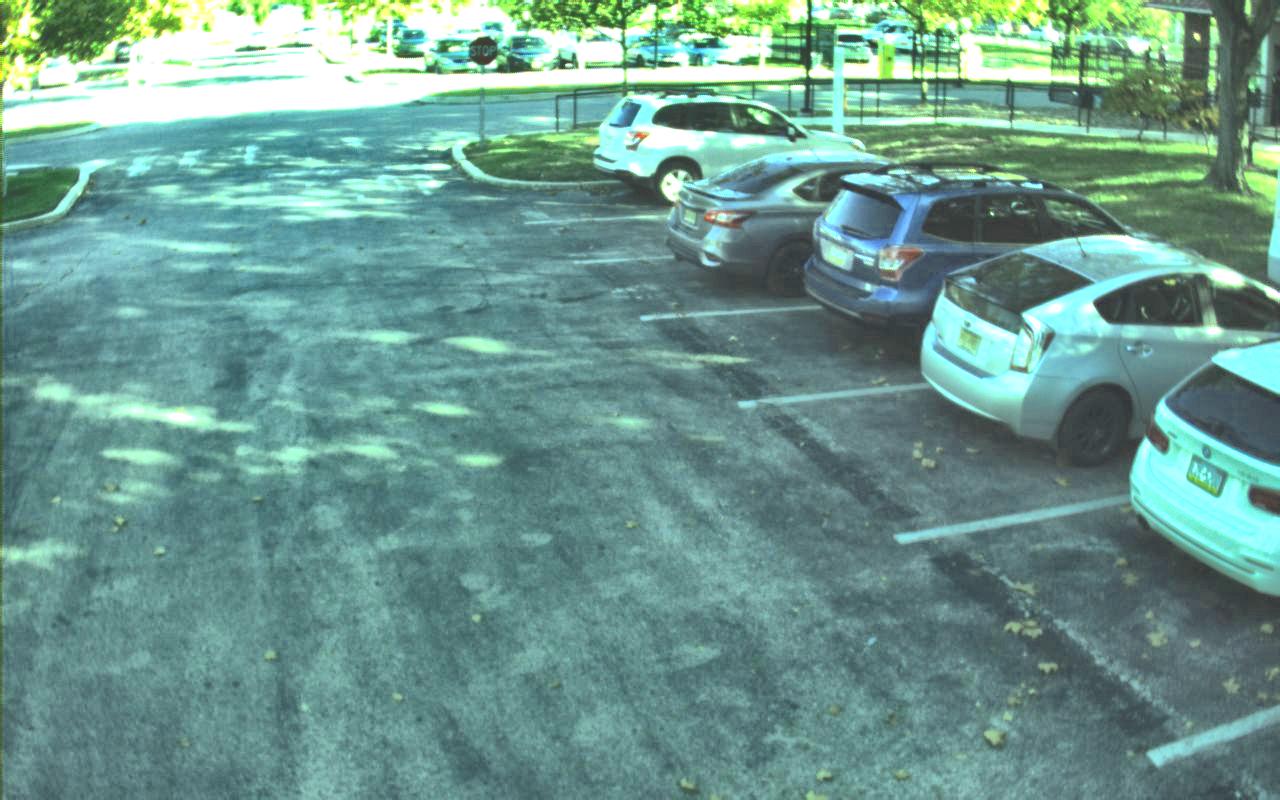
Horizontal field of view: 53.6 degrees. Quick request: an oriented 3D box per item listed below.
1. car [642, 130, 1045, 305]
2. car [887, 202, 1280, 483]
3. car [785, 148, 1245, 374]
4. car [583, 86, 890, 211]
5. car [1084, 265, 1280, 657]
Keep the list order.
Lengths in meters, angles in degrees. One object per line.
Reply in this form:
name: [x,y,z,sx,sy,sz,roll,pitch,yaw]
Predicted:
car: [2.434,-2.260,14.562,4.423,1.566,1.930,-7,17,-20]
car: [4.342,-0.660,9.754,4.306,1.593,1.902,-6,17,-16]
car: [3.860,-1.551,12.125,4.477,1.713,1.963,-6,17,-18]
car: [1.571,-4.157,20.131,4.583,1.695,1.977,-7,17,-18]
car: [5.263,0.176,7.314,4.389,1.599,1.933,-6,17,-16]
